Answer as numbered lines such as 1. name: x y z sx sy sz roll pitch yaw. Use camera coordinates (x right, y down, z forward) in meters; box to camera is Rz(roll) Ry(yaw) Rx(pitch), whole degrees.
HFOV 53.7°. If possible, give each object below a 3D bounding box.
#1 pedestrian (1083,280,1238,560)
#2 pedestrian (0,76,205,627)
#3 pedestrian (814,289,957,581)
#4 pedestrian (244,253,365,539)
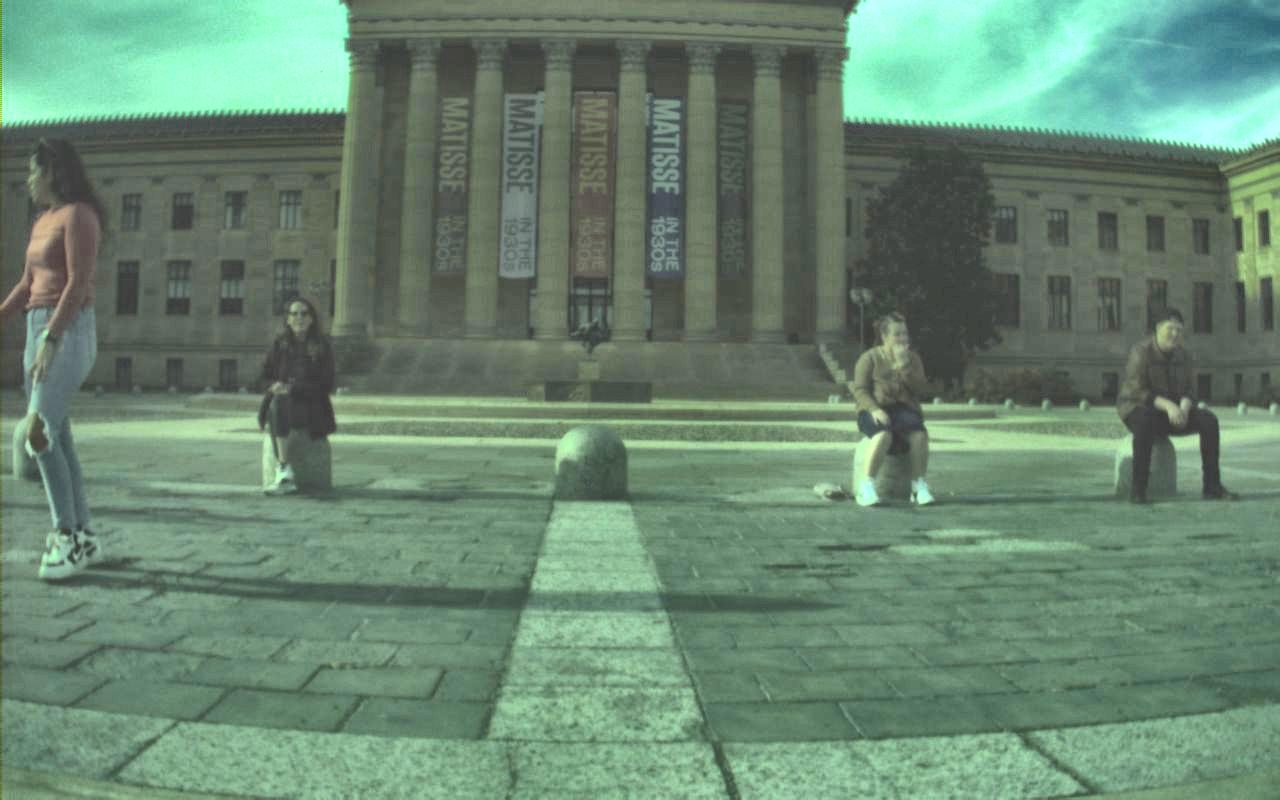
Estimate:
1. pedestrian: 3.486 0.139 7.875 0.841 1.774 0.849 0 0 4
2. pedestrian: -2.146 -0.159 4.124 0.810 1.804 0.832 1 0 39
3. pedestrian: 1.580 0.211 7.963 0.851 1.772 0.852 0 0 12
4. pedestrian: -2.150 -0.024 7.722 0.744 1.725 0.747 0 0 -19
